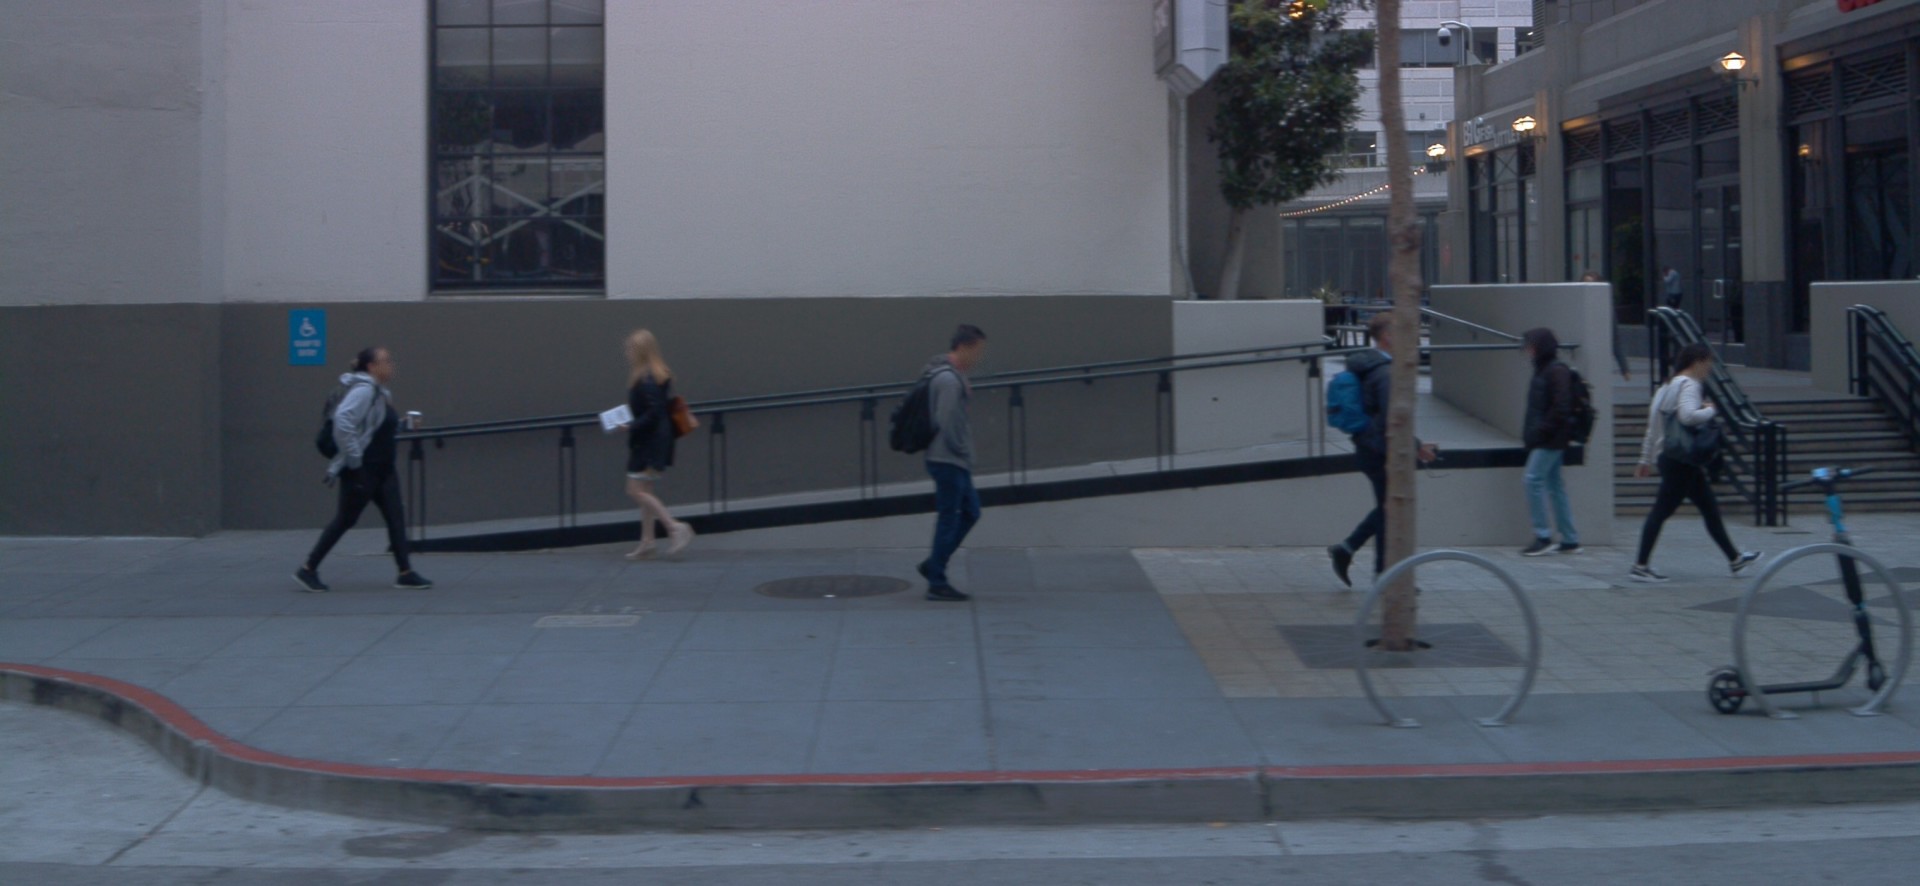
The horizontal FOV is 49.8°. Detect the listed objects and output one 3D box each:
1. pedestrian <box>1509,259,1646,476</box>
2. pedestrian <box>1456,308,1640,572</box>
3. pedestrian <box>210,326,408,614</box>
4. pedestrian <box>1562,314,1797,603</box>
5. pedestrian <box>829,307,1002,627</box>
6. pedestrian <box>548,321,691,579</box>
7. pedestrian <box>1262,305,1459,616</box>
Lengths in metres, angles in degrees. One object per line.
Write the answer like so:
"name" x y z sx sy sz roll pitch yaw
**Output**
"pedestrian" 5.339 -0.681 17.913 0.830 1.796 0.897 -1 2 -8
"pedestrian" 4.249 -0.050 14.994 1.065 1.806 0.805 -1 2 -4
"pedestrian" -4.262 0.150 13.599 0.998 1.771 0.896 -1 2 0
"pedestrian" 4.715 0.067 13.629 1.195 1.776 1.024 0 3 1
"pedestrian" -0.264 0.119 13.006 1.034 1.899 0.879 -1 2 1
"pedestrian" -2.439 0.026 14.891 0.901 1.756 0.799 -1 2 -2
"pedestrian" 2.534 0.078 13.185 1.053 1.856 0.923 -1 2 -1
